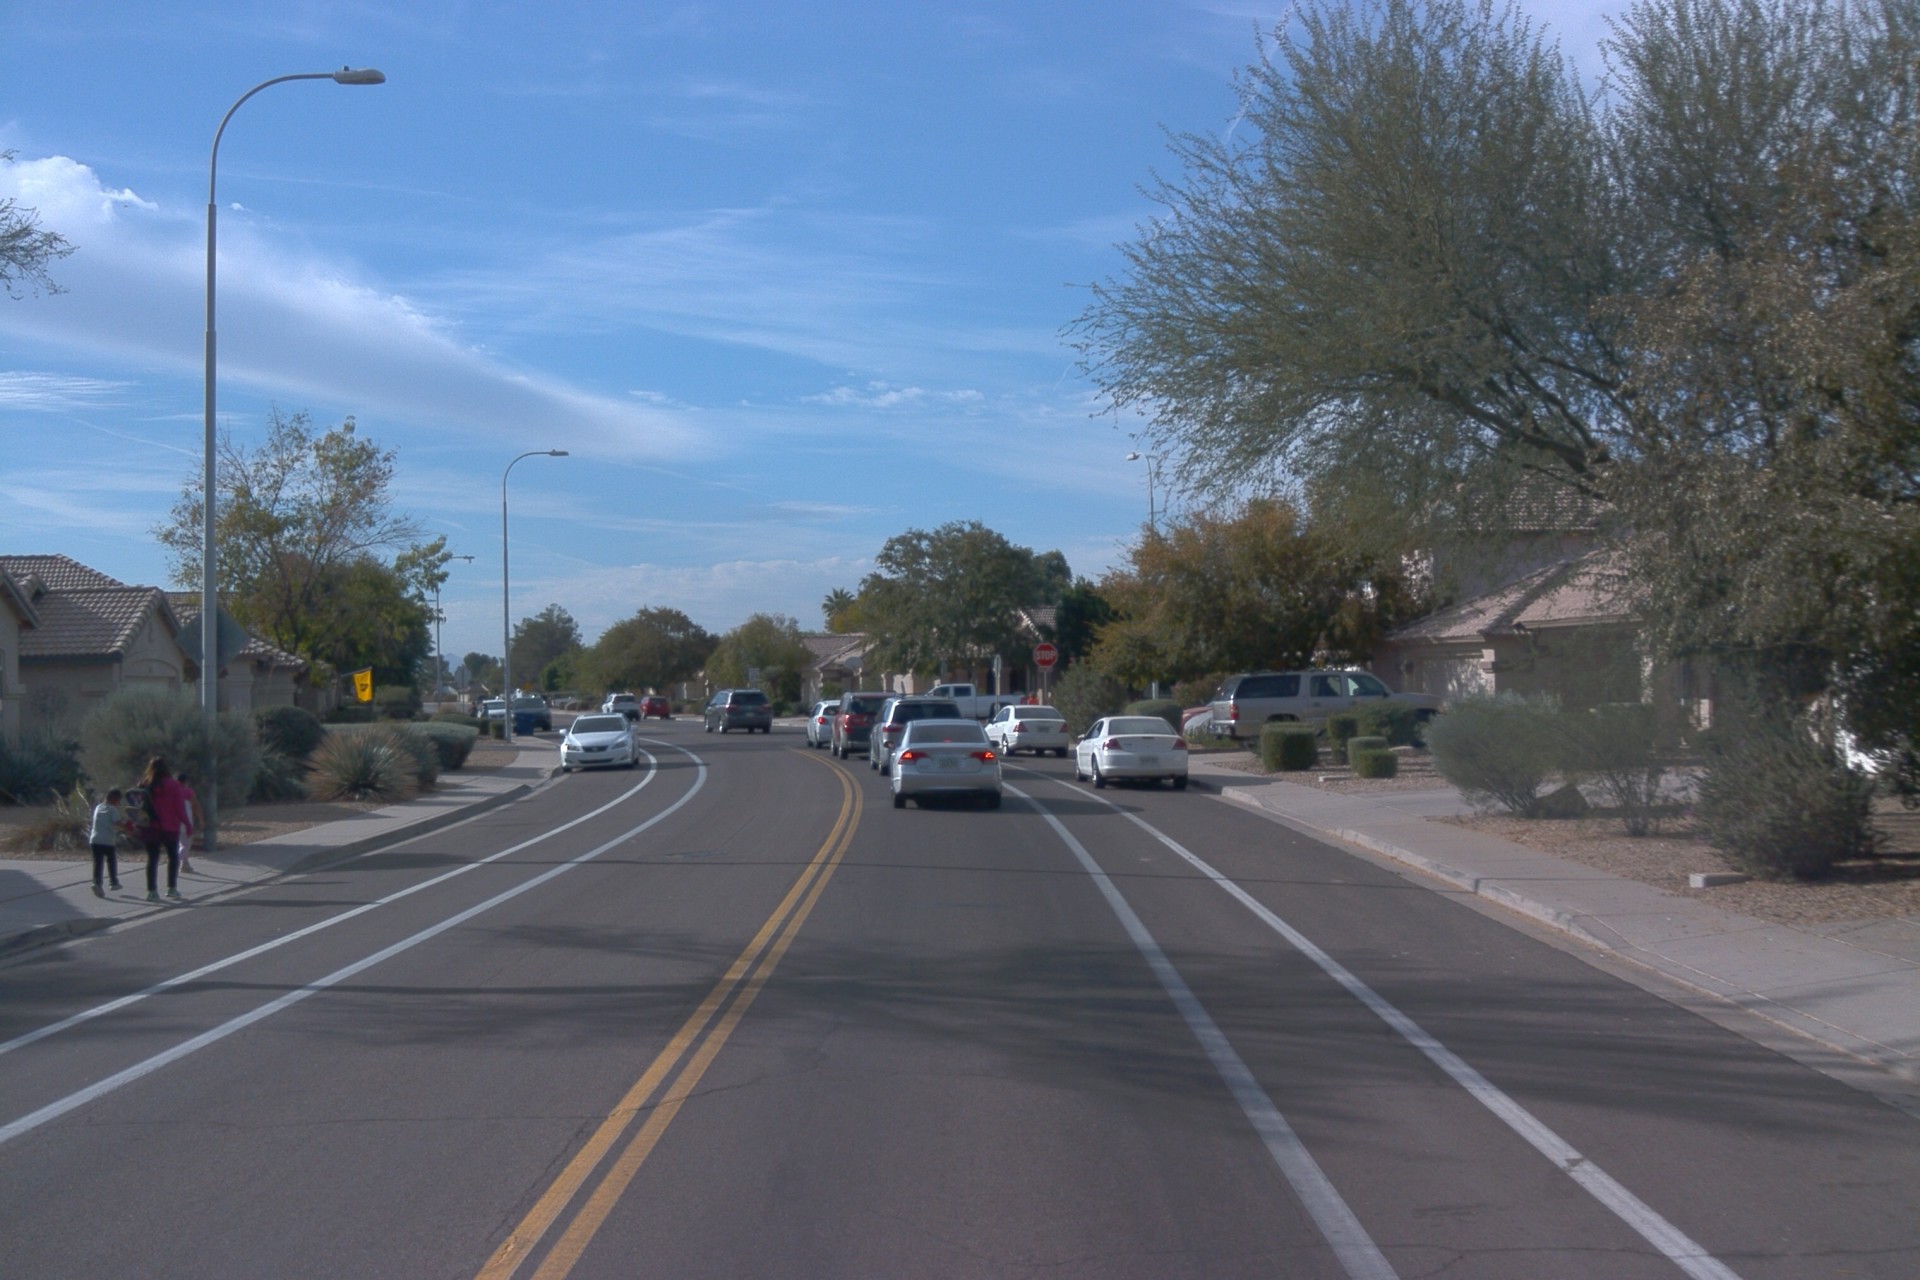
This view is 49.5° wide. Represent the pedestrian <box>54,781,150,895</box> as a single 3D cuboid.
[{"bbox_3d":[-9.123,2.095,22.142,0.691,1.150,0.794,0,-1,1],"label":"pedestrian"}]

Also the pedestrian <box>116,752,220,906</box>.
[{"bbox_3d":[-8.457,2.004,22.243,0.782,1.580,0.850,0,-1,1],"label":"pedestrian"}]

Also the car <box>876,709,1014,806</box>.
[{"bbox_3d":[-0.329,1.924,34.913,2.121,1.440,4.395,0,-1,-3],"label":"car"}]
